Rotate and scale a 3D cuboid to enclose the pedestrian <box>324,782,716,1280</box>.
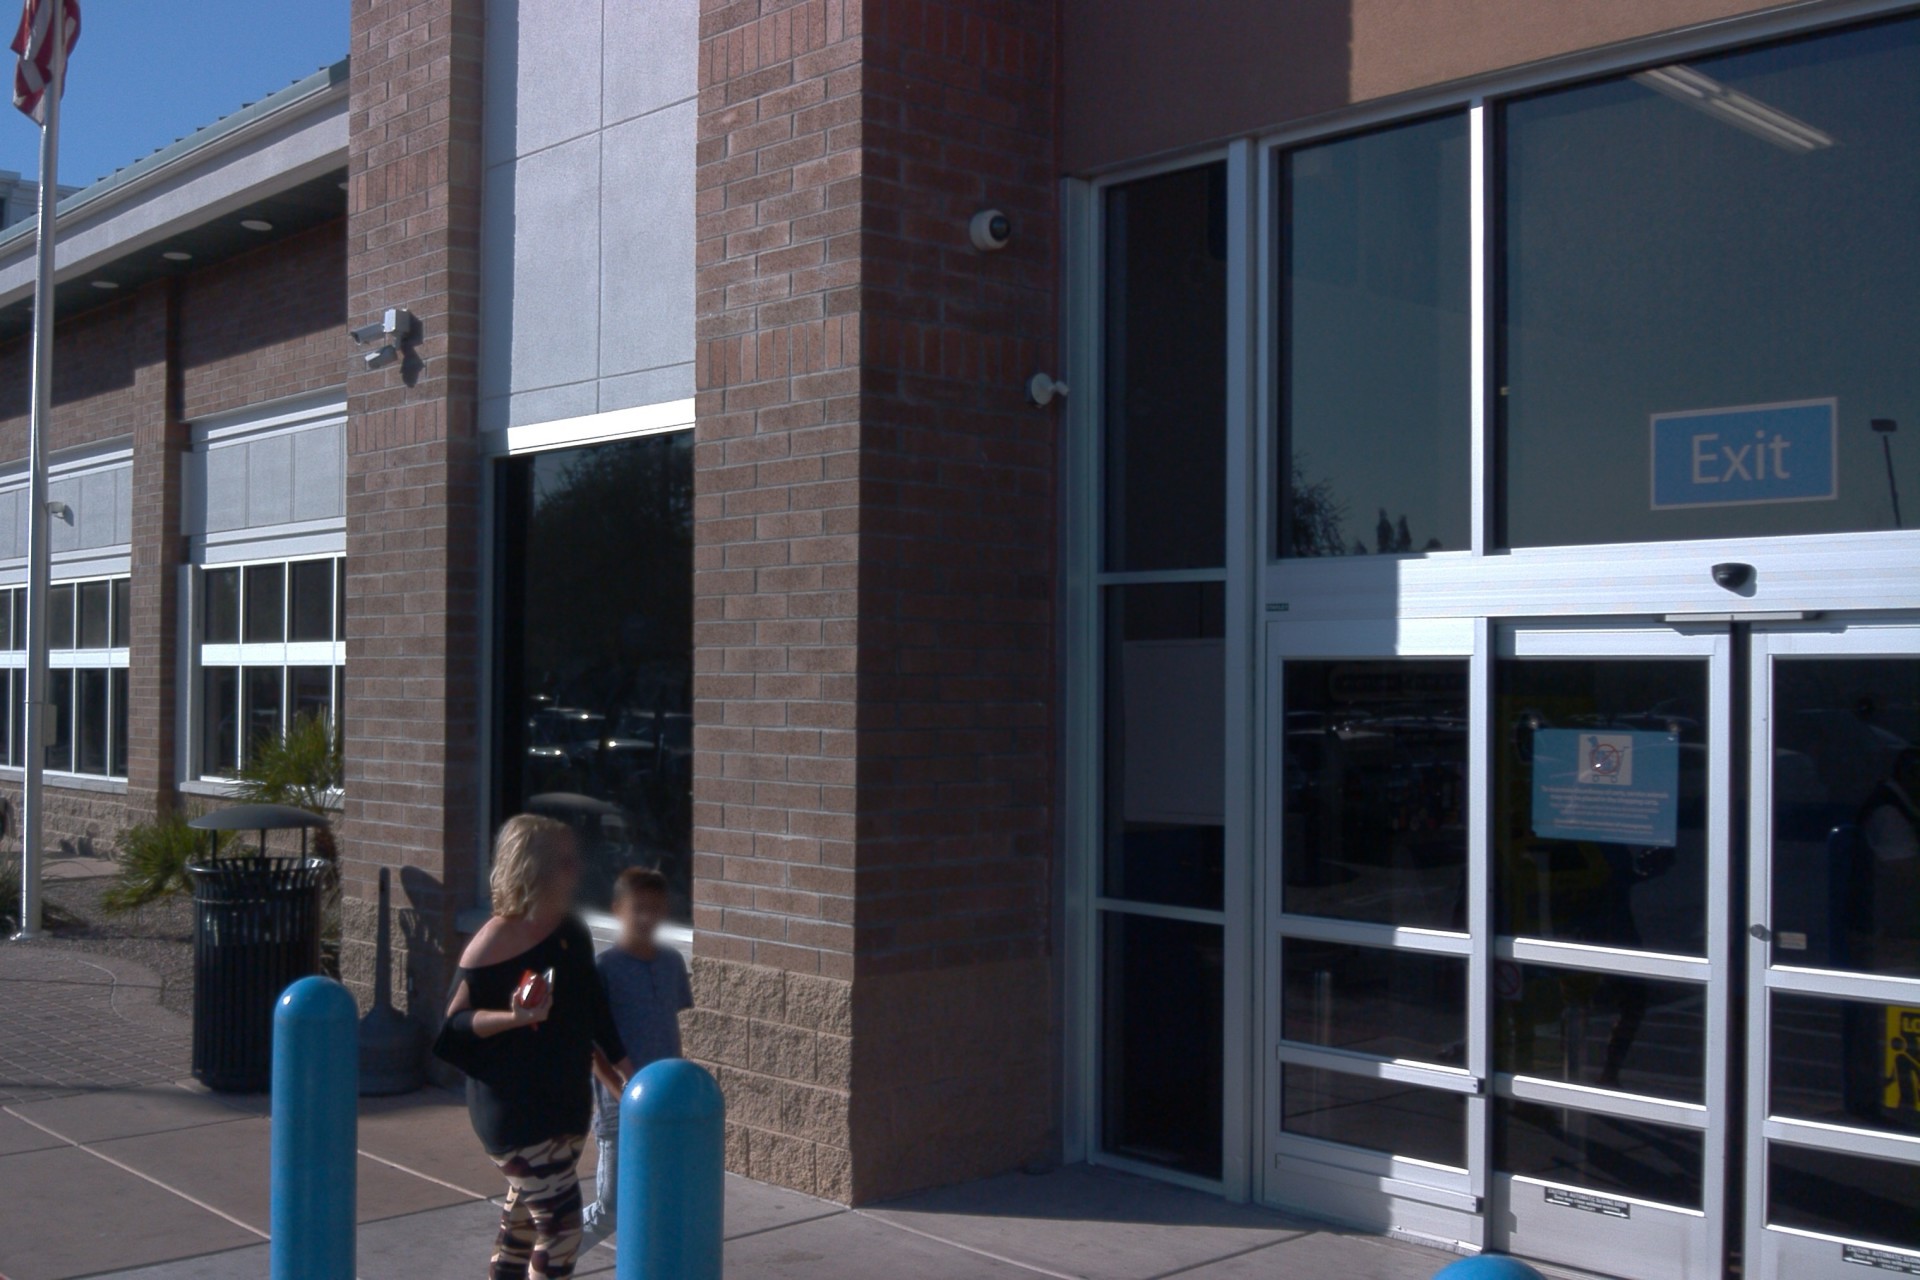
[{"bbox_3d":[-1.221,1.302,5.795,0.782,1.750,0.735,0,0,30],"label":"pedestrian"}]

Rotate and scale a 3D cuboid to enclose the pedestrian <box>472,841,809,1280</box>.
[{"bbox_3d":[-0.961,1.400,6.290,0.709,1.490,0.734,0,0,31],"label":"pedestrian"}]
